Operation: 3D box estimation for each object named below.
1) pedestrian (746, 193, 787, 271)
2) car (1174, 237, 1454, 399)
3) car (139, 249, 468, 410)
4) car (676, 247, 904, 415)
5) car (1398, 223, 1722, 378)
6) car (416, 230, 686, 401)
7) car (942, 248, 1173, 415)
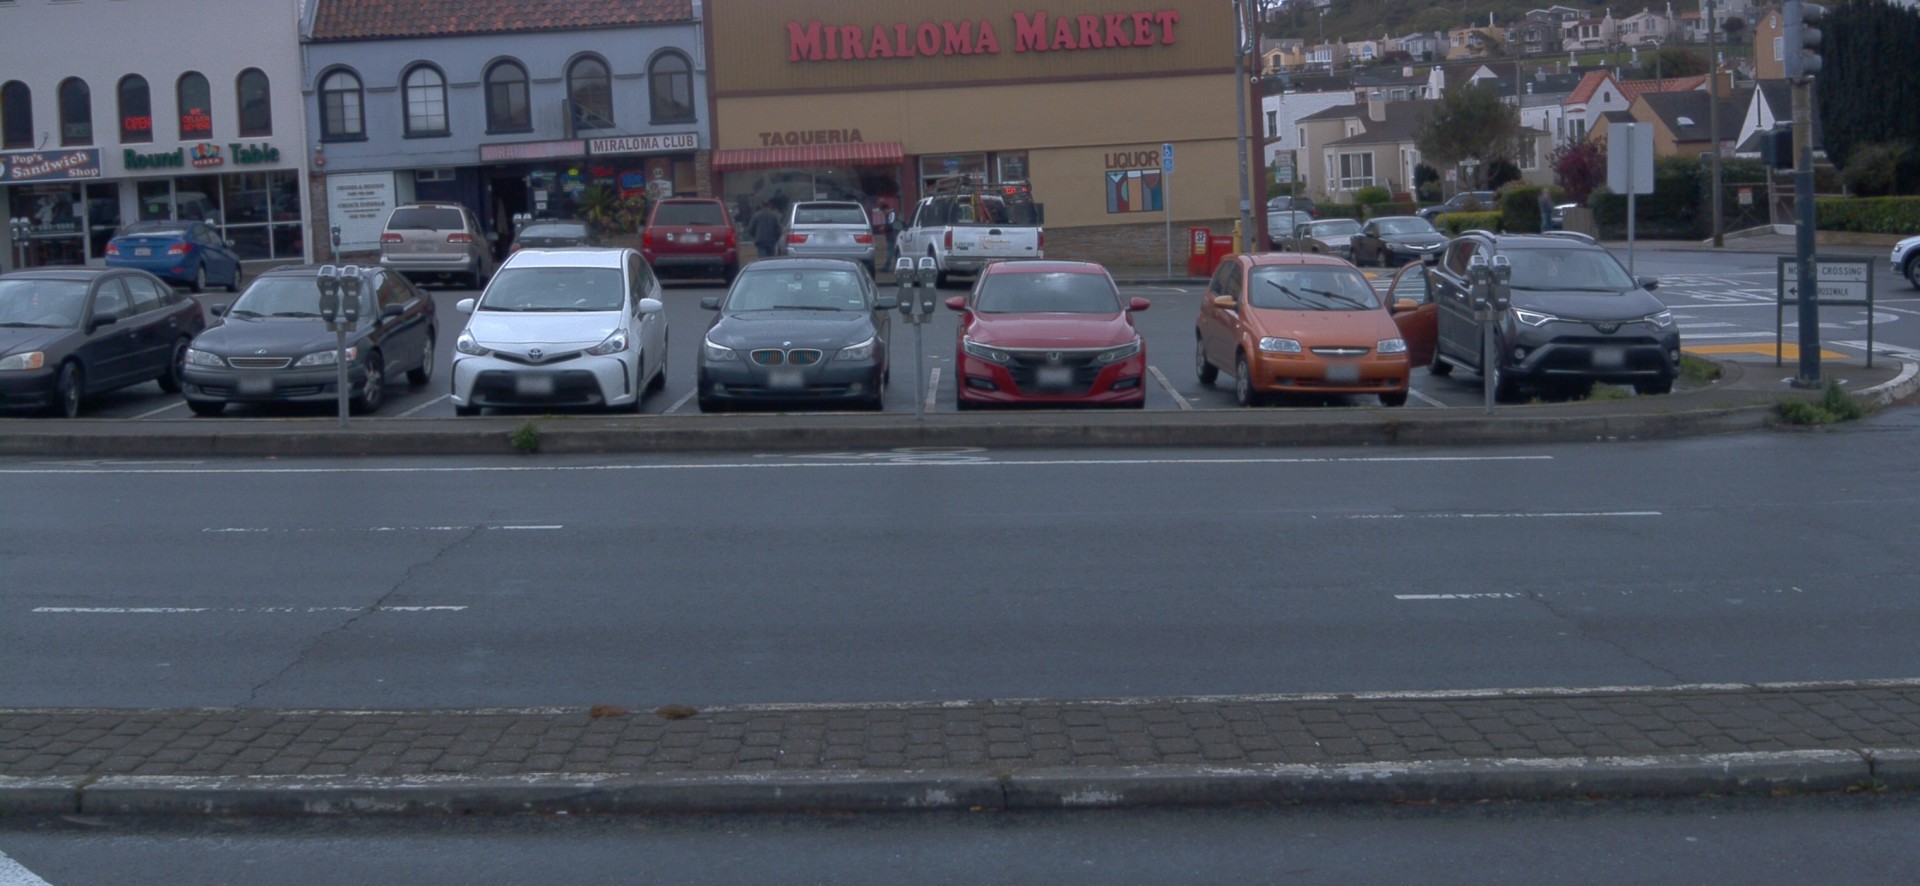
[{"bbox_3d":[-3.688,-4.027,39.324,0.705,1.457,0.722,0,2,-12],"label":"pedestrian"},{"bbox_3d":[3.609,-1.399,21.807,2.049,1.462,4.037,0,6,-4],"label":"car"},{"bbox_3d":[-6.718,-1.285,21.703,2.023,1.392,4.712,0,6,-1],"label":"car"},{"bbox_3d":[-1.657,-1.271,21.658,2.112,1.461,4.574,0,6,-1],"label":"car"},{"bbox_3d":[6.389,-1.645,22.574,2.205,1.461,4.580,0,6,0],"label":"car"},{"bbox_3d":[-4.068,-1.419,21.324,2.132,1.491,4.678,0,6,-4],"label":"car"},{"bbox_3d":[0.907,-1.277,21.830,2.185,1.461,4.636,0,6,-1],"label":"car"}]
